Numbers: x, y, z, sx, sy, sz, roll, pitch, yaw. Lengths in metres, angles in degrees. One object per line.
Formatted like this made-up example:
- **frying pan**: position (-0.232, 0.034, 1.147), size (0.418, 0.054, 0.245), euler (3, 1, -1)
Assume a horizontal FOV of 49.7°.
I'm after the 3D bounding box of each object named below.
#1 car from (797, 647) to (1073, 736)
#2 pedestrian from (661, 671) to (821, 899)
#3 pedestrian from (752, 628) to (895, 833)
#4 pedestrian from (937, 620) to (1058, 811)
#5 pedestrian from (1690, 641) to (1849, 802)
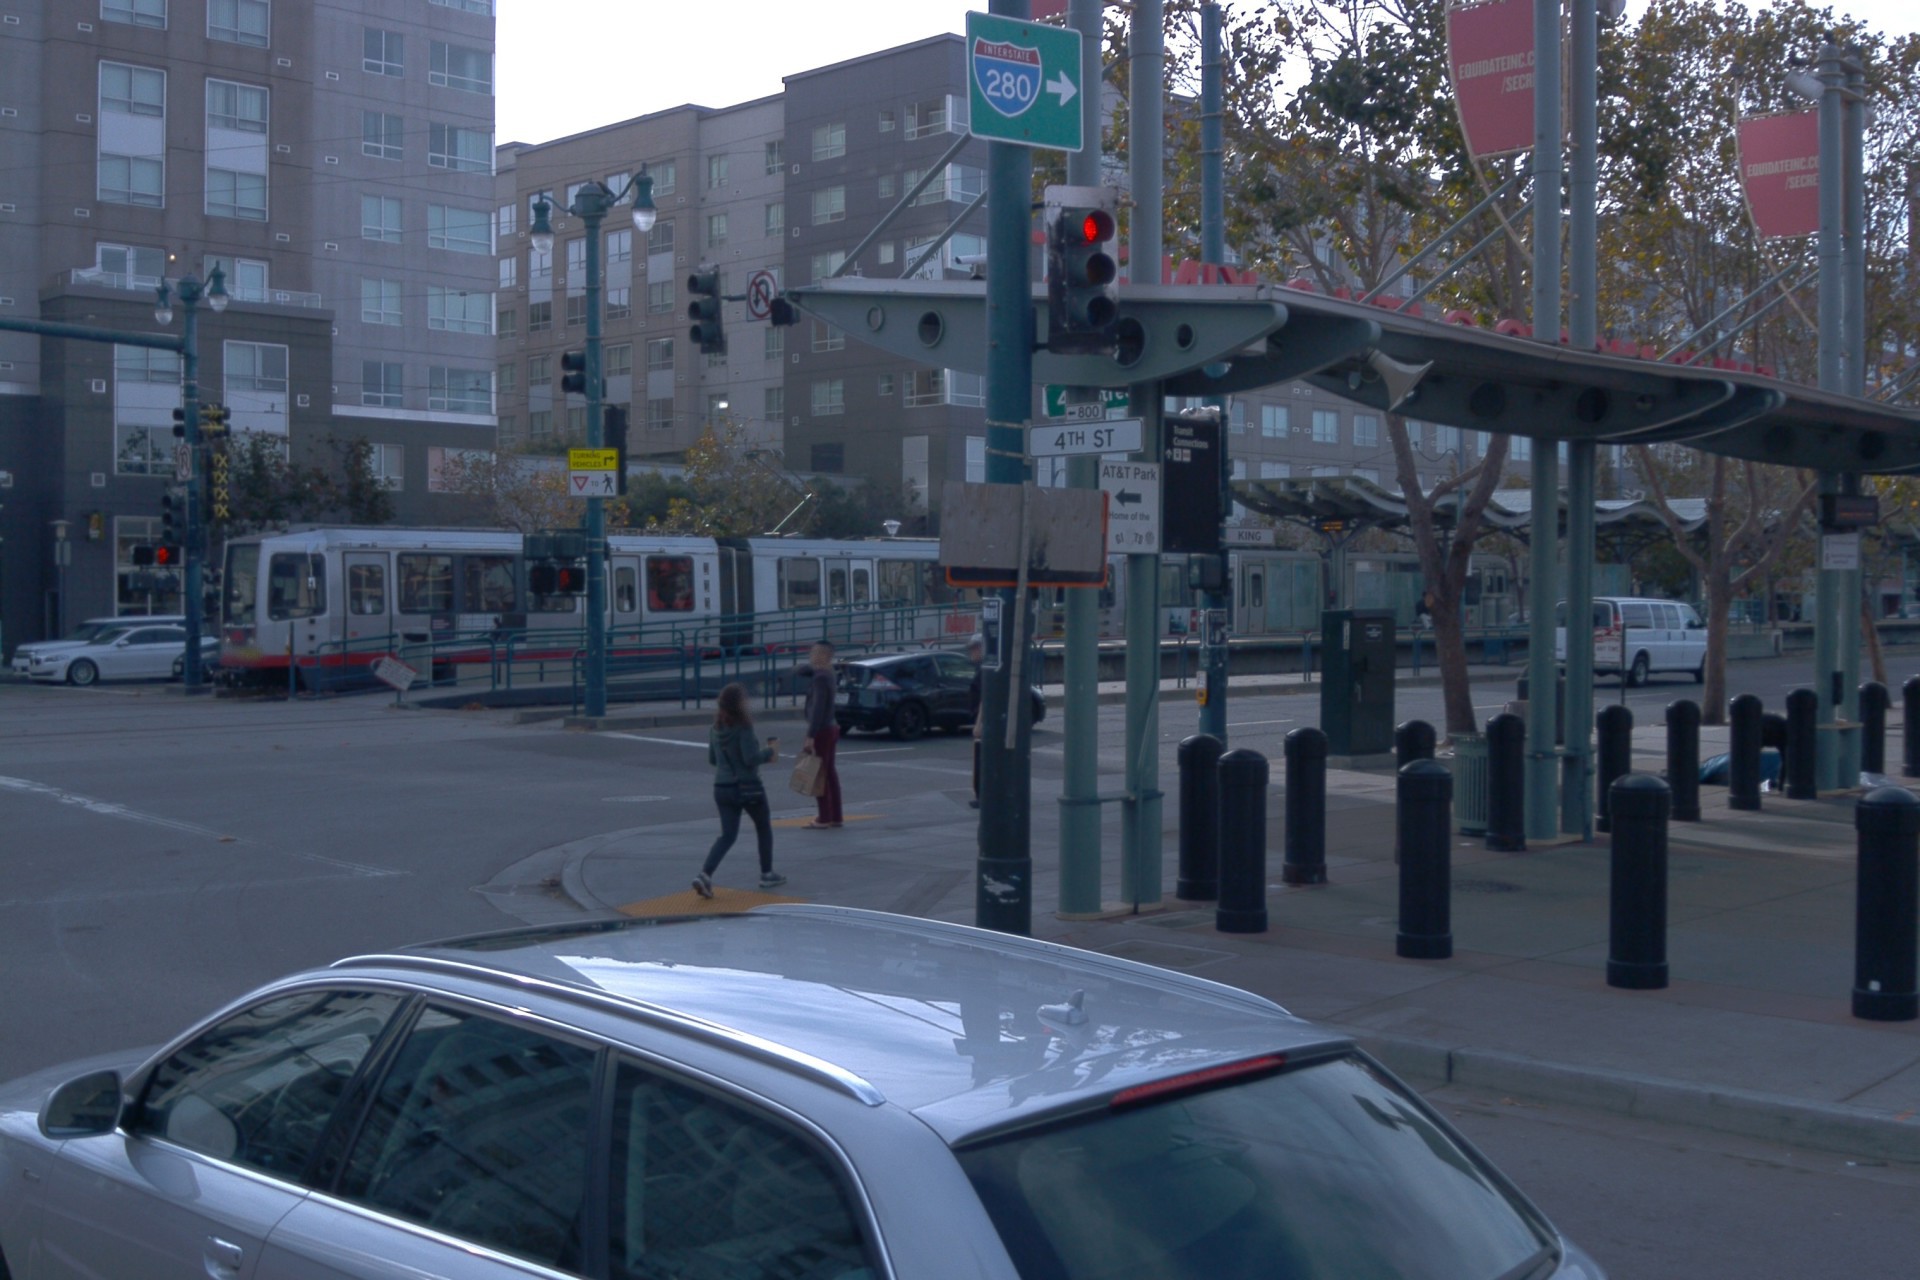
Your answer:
- **car**: position (-0.342, 0.780, 32.318), size (1.973, 1.278, 4.103), euler (1, 0, 44)
- **pedestrian**: position (-1.648, 1.063, 15.681), size (0.678, 1.642, 1.016), euler (1, 0, 35)
- **pedestrian**: position (-1.247, 0.810, 19.050), size (0.980, 1.819, 0.928), euler (1, 0, 22)
- **pedestrian**: position (0.383, 0.737, 20.824), size (0.867, 1.858, 0.865), euler (1, 0, 31)
- **pedestrian**: position (8.459, 0.830, 21.629), size (1.168, 1.605, 1.218), euler (1, 0, 42)
